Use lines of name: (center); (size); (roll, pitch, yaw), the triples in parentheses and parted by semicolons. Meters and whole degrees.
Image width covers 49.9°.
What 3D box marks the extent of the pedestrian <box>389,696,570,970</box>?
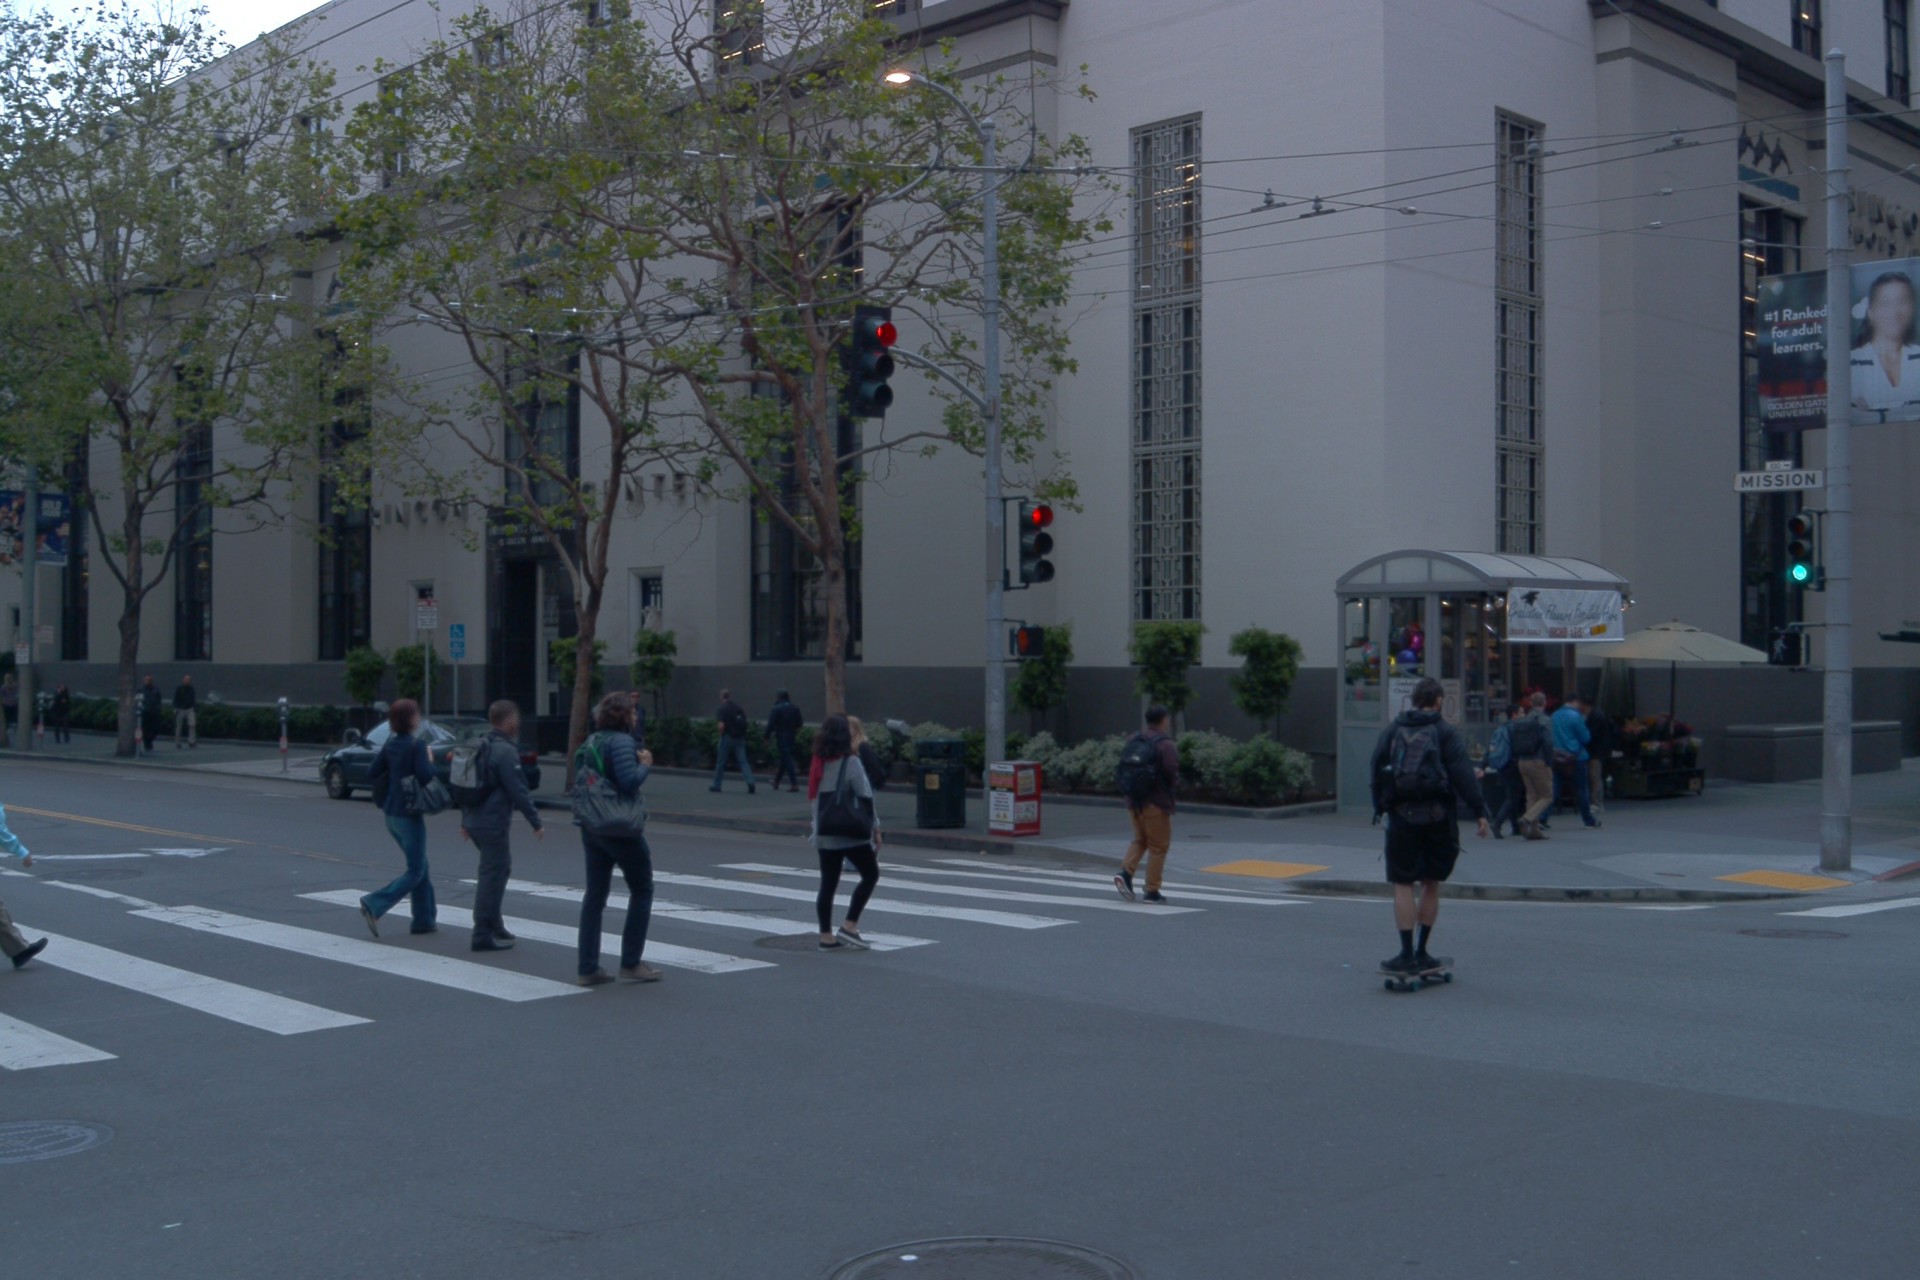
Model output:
pedestrian: (-3.407, 1.329, 14.638); (0.942, 1.809, 0.850); (-1, 1, -43)

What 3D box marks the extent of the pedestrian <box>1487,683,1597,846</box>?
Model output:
pedestrian: (7.048, 1.488, 25.015); (1.051, 1.896, 0.762); (-1, 1, -28)

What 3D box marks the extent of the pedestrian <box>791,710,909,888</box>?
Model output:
pedestrian: (-1.084, 1.541, 20.307); (0.894, 1.646, 0.735); (-1, 1, -40)

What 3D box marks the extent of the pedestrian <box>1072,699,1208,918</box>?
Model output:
pedestrian: (1.546, 1.412, 17.706); (0.716, 1.771, 0.964); (1, 1, 44)

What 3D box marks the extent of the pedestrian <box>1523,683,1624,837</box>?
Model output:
pedestrian: (7.897, 1.526, 26.567); (0.983, 1.896, 0.798); (-1, 1, -36)

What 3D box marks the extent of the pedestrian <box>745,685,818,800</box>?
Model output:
pedestrian: (-2.910, 1.648, 33.634); (0.757, 1.796, 0.983); (-1, 1, -41)

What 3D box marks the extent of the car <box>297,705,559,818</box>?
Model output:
car: (-8.585, 1.883, 33.079); (2.016, 1.480, 4.678); (-1, 1, -44)

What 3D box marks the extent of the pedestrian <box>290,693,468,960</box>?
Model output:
pedestrian: (-4.313, 1.345, 15.327); (0.828, 1.856, 0.973); (1, 1, 42)

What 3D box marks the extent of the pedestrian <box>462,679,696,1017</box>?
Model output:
pedestrian: (-2.389, 1.252, 12.996); (0.842, 1.969, 1.167); (1, 1, 43)

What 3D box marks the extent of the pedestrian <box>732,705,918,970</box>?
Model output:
pedestrian: (-0.952, 1.362, 14.643); (1.044, 1.739, 0.795); (-1, 1, -42)

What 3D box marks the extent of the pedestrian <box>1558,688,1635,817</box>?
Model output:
pedestrian: (8.967, 1.565, 29.090); (0.751, 1.746, 0.848); (1, 1, 41)

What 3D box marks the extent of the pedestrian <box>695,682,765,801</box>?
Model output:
pedestrian: (-3.721, 1.627, 33.375); (0.681, 1.856, 0.975); (-1, 1, -40)

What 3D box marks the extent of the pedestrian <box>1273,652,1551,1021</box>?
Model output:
pedestrian: (2.863, 1.156, 12.994); (1.097, 2.118, 1.544); (1, 1, 41)

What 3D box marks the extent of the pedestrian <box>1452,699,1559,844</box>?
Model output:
pedestrian: (6.740, 1.602, 25.515); (0.974, 1.706, 0.840); (-1, 1, -28)
